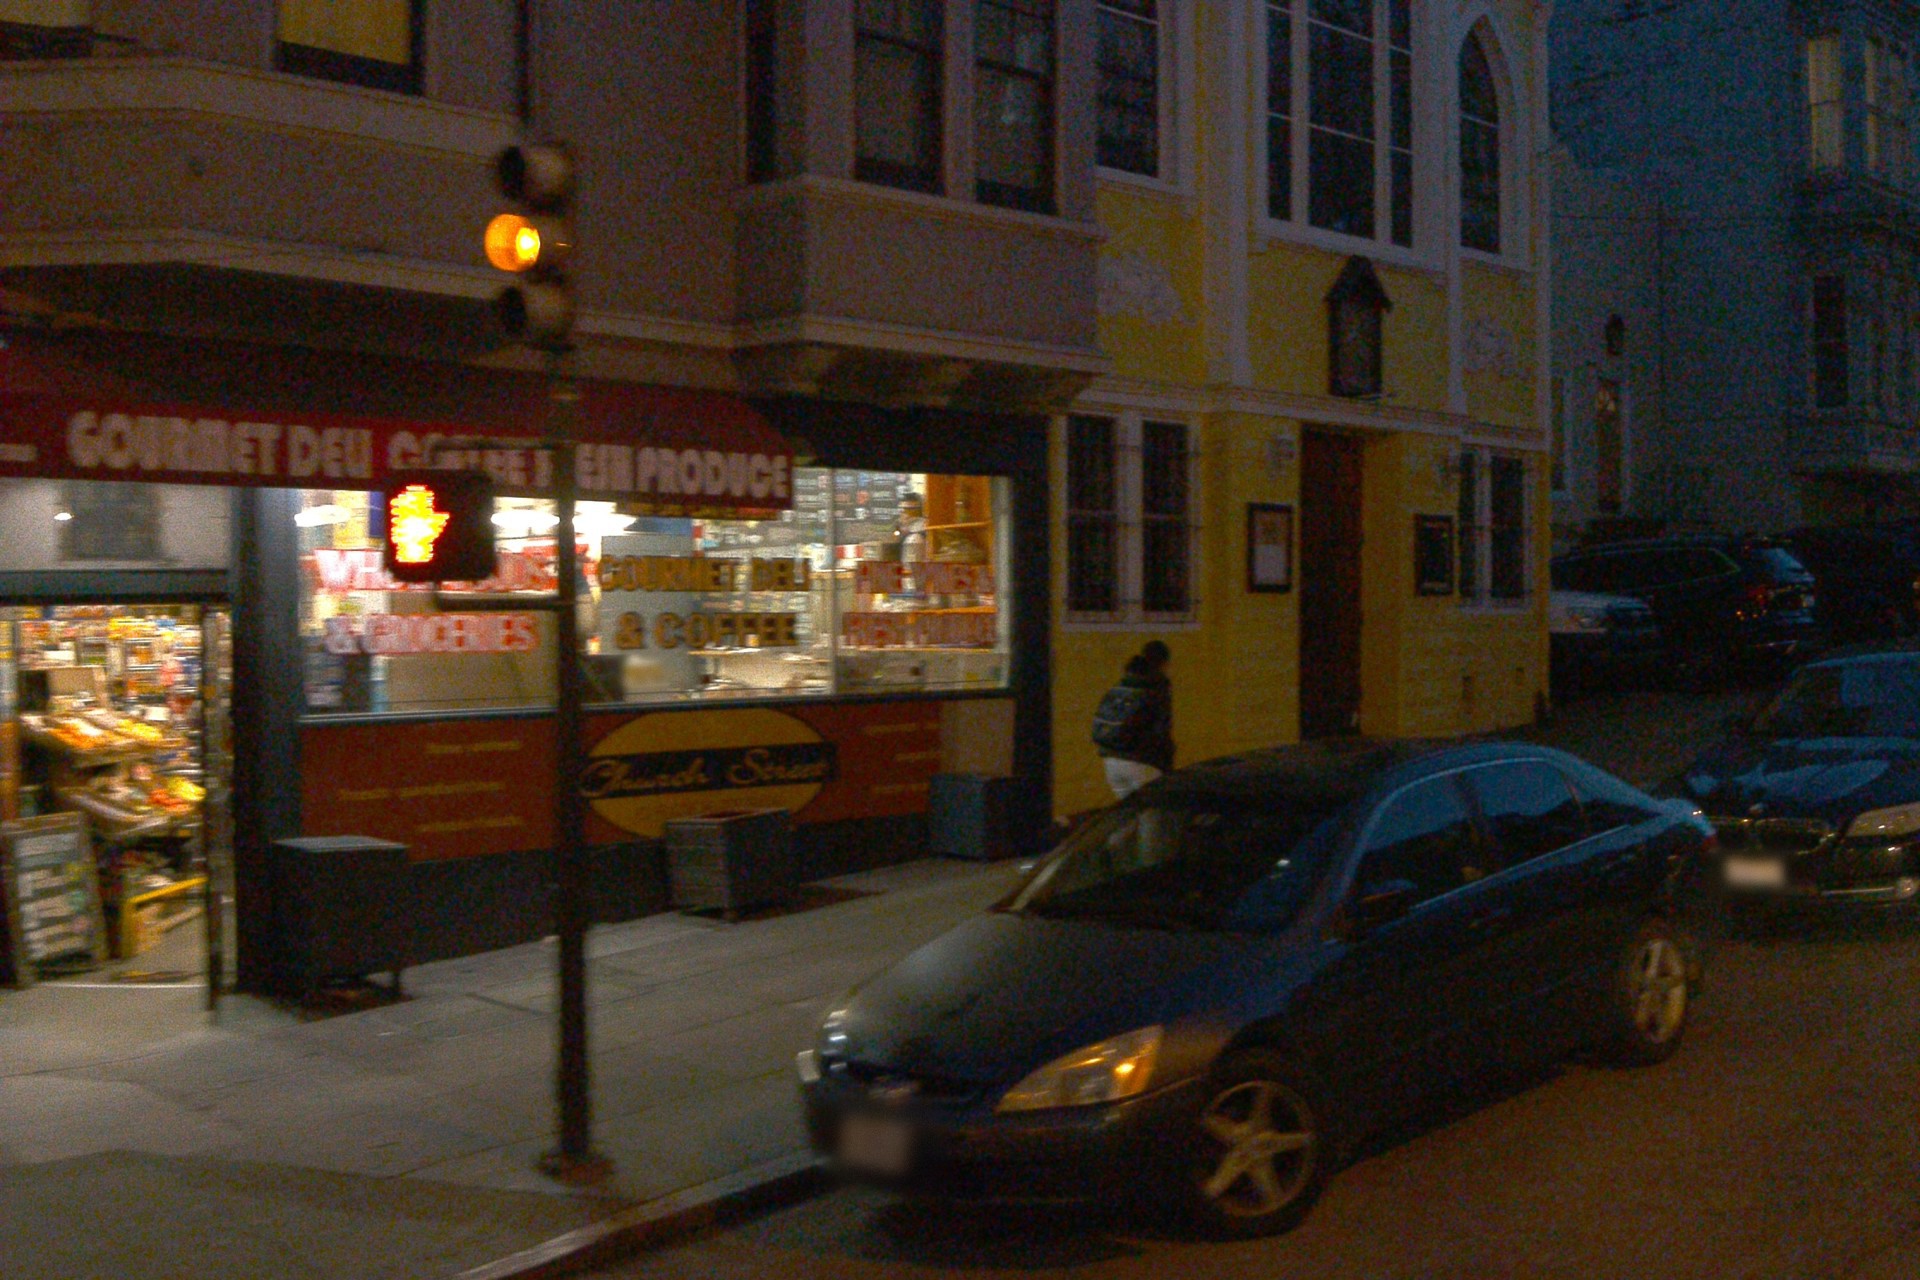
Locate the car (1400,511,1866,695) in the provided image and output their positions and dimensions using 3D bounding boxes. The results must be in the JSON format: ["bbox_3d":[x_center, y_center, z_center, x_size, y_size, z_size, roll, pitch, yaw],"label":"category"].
[{"bbox_3d":[7.911,-0.440,24.549,4.761,1.960,2.249,1,1,43],"label":"car"}]

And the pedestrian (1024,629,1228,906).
[{"bbox_3d":[1.039,0.757,12.960,0.892,1.640,0.918,-1,1,-45],"label":"pedestrian"}]

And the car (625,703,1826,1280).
[{"bbox_3d":[1.337,1.193,8.333,4.928,1.630,2.198,-1,1,-44],"label":"car"}]

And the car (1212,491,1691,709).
[{"bbox_3d":[5.351,-0.439,22.927,4.793,2.170,2.056,1,1,44],"label":"car"}]
